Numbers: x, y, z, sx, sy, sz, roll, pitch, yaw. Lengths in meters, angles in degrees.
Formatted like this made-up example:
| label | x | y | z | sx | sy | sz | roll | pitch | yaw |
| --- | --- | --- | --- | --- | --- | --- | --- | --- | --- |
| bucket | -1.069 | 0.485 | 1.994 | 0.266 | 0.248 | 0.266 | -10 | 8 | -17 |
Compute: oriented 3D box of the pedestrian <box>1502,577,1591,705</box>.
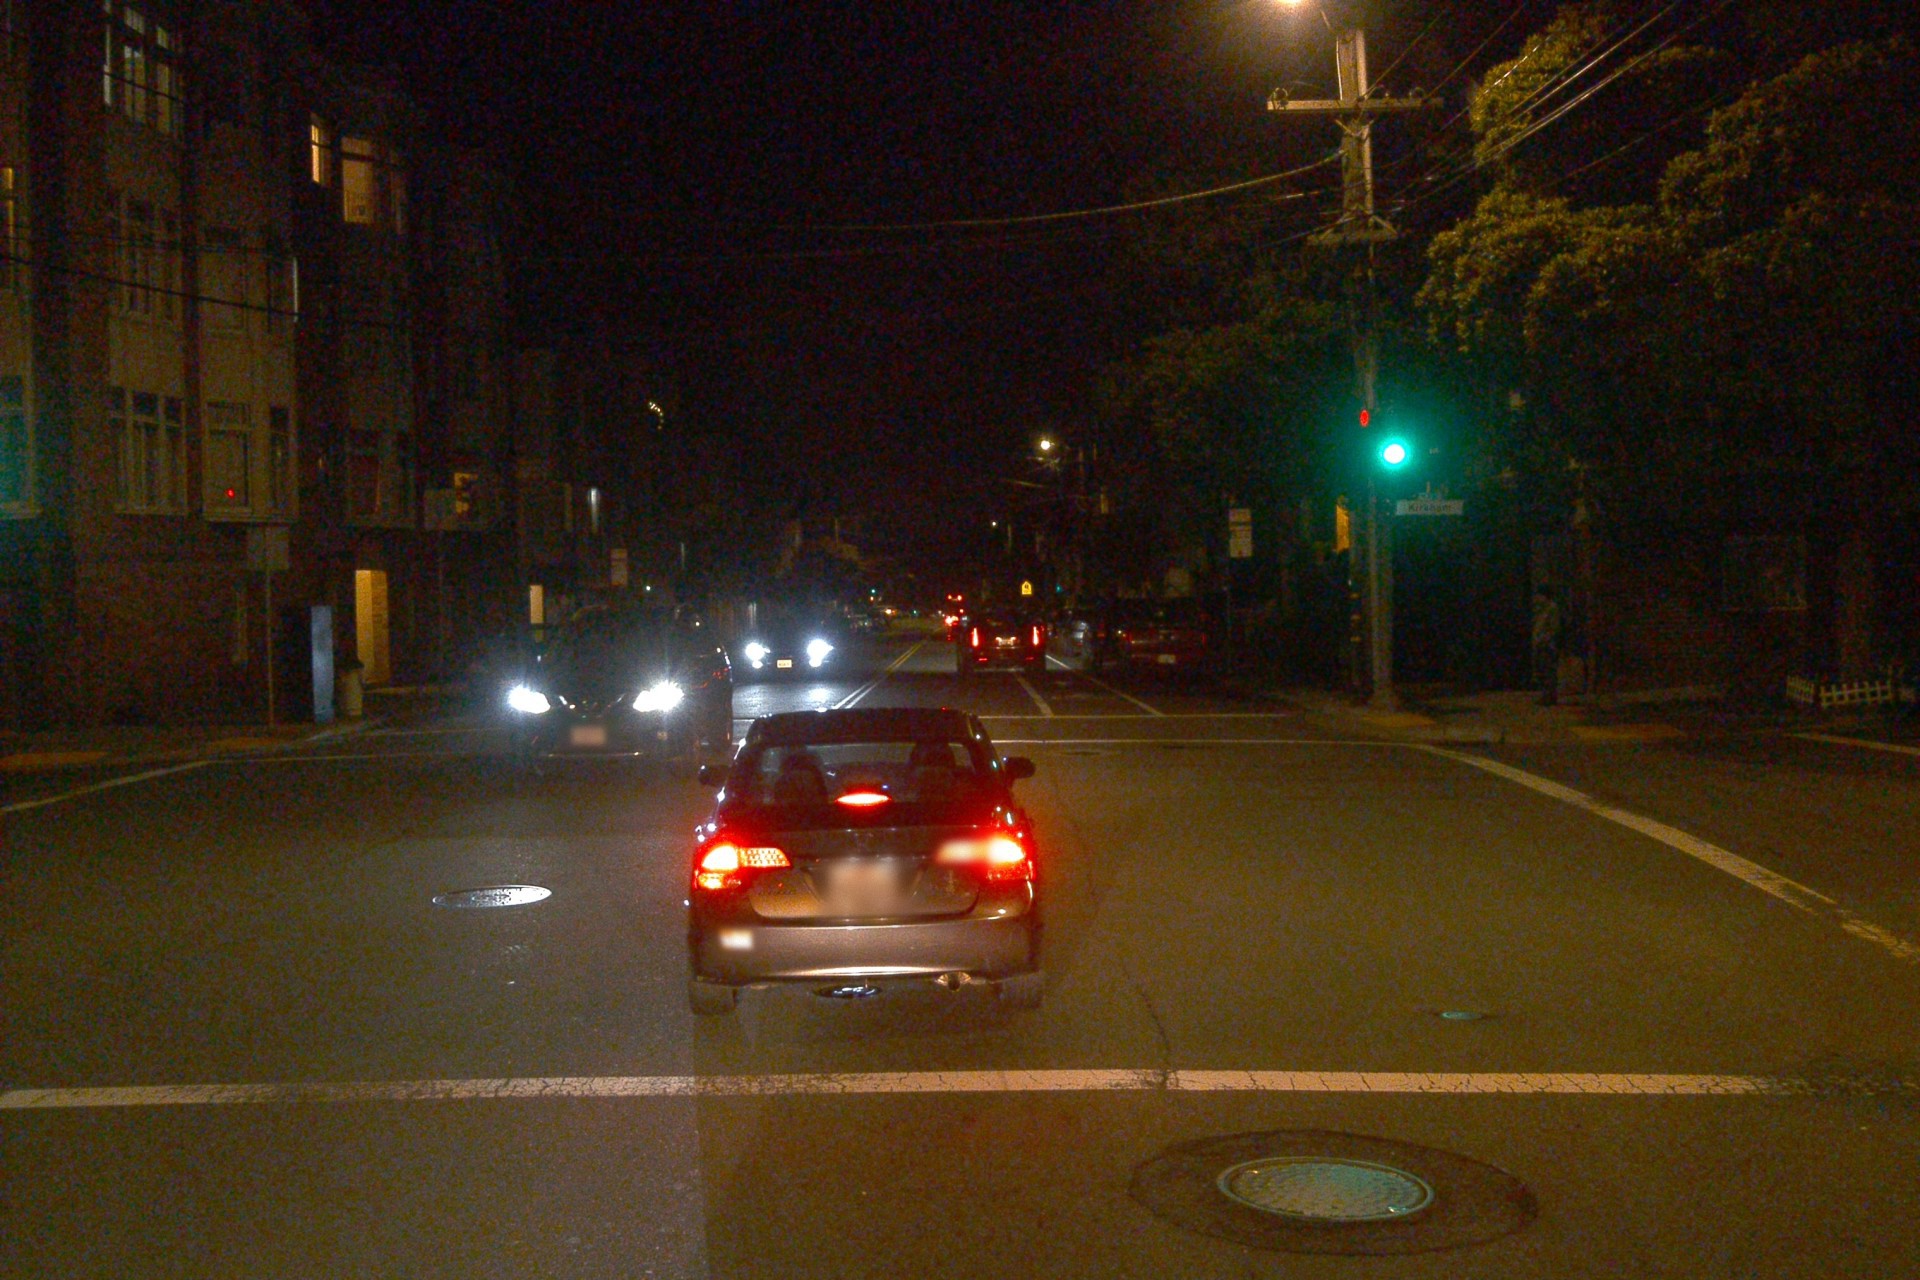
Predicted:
| label | x | y | z | sx | sy | sz | roll | pitch | yaw |
| --- | --- | --- | --- | --- | --- | --- | --- | --- | --- |
| pedestrian | 7.842 | 0.010 | 27.340 | 0.936 | 1.691 | 0.623 | 0 | 0 | -14 |

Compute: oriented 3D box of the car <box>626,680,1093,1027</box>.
| label | x | y | z | sx | sy | sz | roll | pitch | yaw |
| --- | --- | --- | --- | --- | --- | --- | --- | --- | --- |
| car | -0.499 | 0.998 | 11.406 | 2.070 | 1.420 | 4.588 | 0 | 0 | -1 |

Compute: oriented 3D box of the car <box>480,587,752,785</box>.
| label | x | y | z | sx | sy | sz | roll | pitch | yaw |
| --- | --- | --- | --- | --- | --- | --- | --- | --- | --- |
| car | -3.529 | 0.429 | 21.866 | 2.065 | 1.870 | 4.608 | 1 | 0 | 1 |
